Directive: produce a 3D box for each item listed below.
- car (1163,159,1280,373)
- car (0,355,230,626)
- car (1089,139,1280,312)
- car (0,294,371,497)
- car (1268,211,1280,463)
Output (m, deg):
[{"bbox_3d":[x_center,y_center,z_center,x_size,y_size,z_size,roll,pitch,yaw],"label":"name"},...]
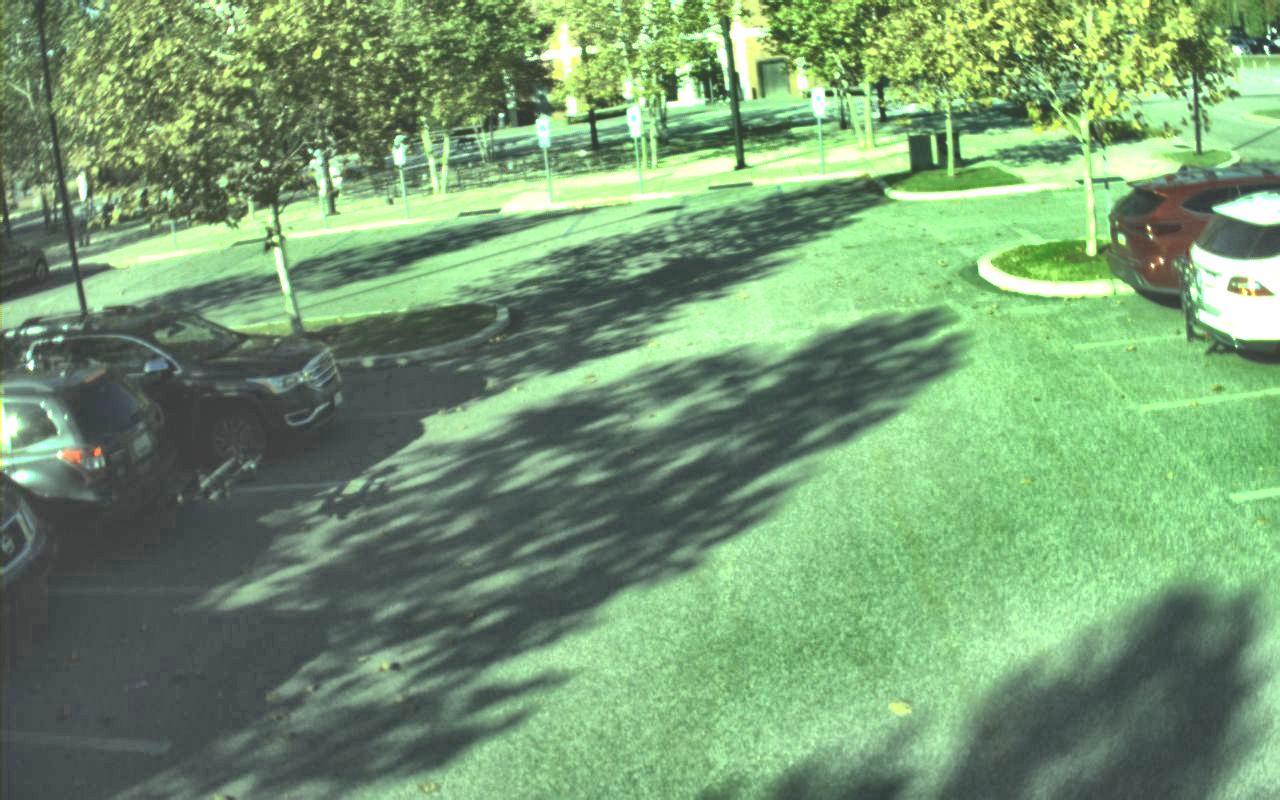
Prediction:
[{"bbox_3d":[7.988,-1.447,11.727,4.497,1.821,2.004,-1,16,-1],"label":"car"},{"bbox_3d":[-6.388,0.743,10.809,4.503,1.688,2.007,2,17,11],"label":"car"},{"bbox_3d":[8.012,-2.204,14.382,4.404,1.781,1.971,0,16,3],"label":"car"},{"bbox_3d":[-5.534,-0.124,13.416,4.597,1.669,2.011,1,16,6],"label":"car"},{"bbox_3d":[7.943,-0.572,9.135,4.463,1.622,2.009,1,16,7],"label":"car"}]
